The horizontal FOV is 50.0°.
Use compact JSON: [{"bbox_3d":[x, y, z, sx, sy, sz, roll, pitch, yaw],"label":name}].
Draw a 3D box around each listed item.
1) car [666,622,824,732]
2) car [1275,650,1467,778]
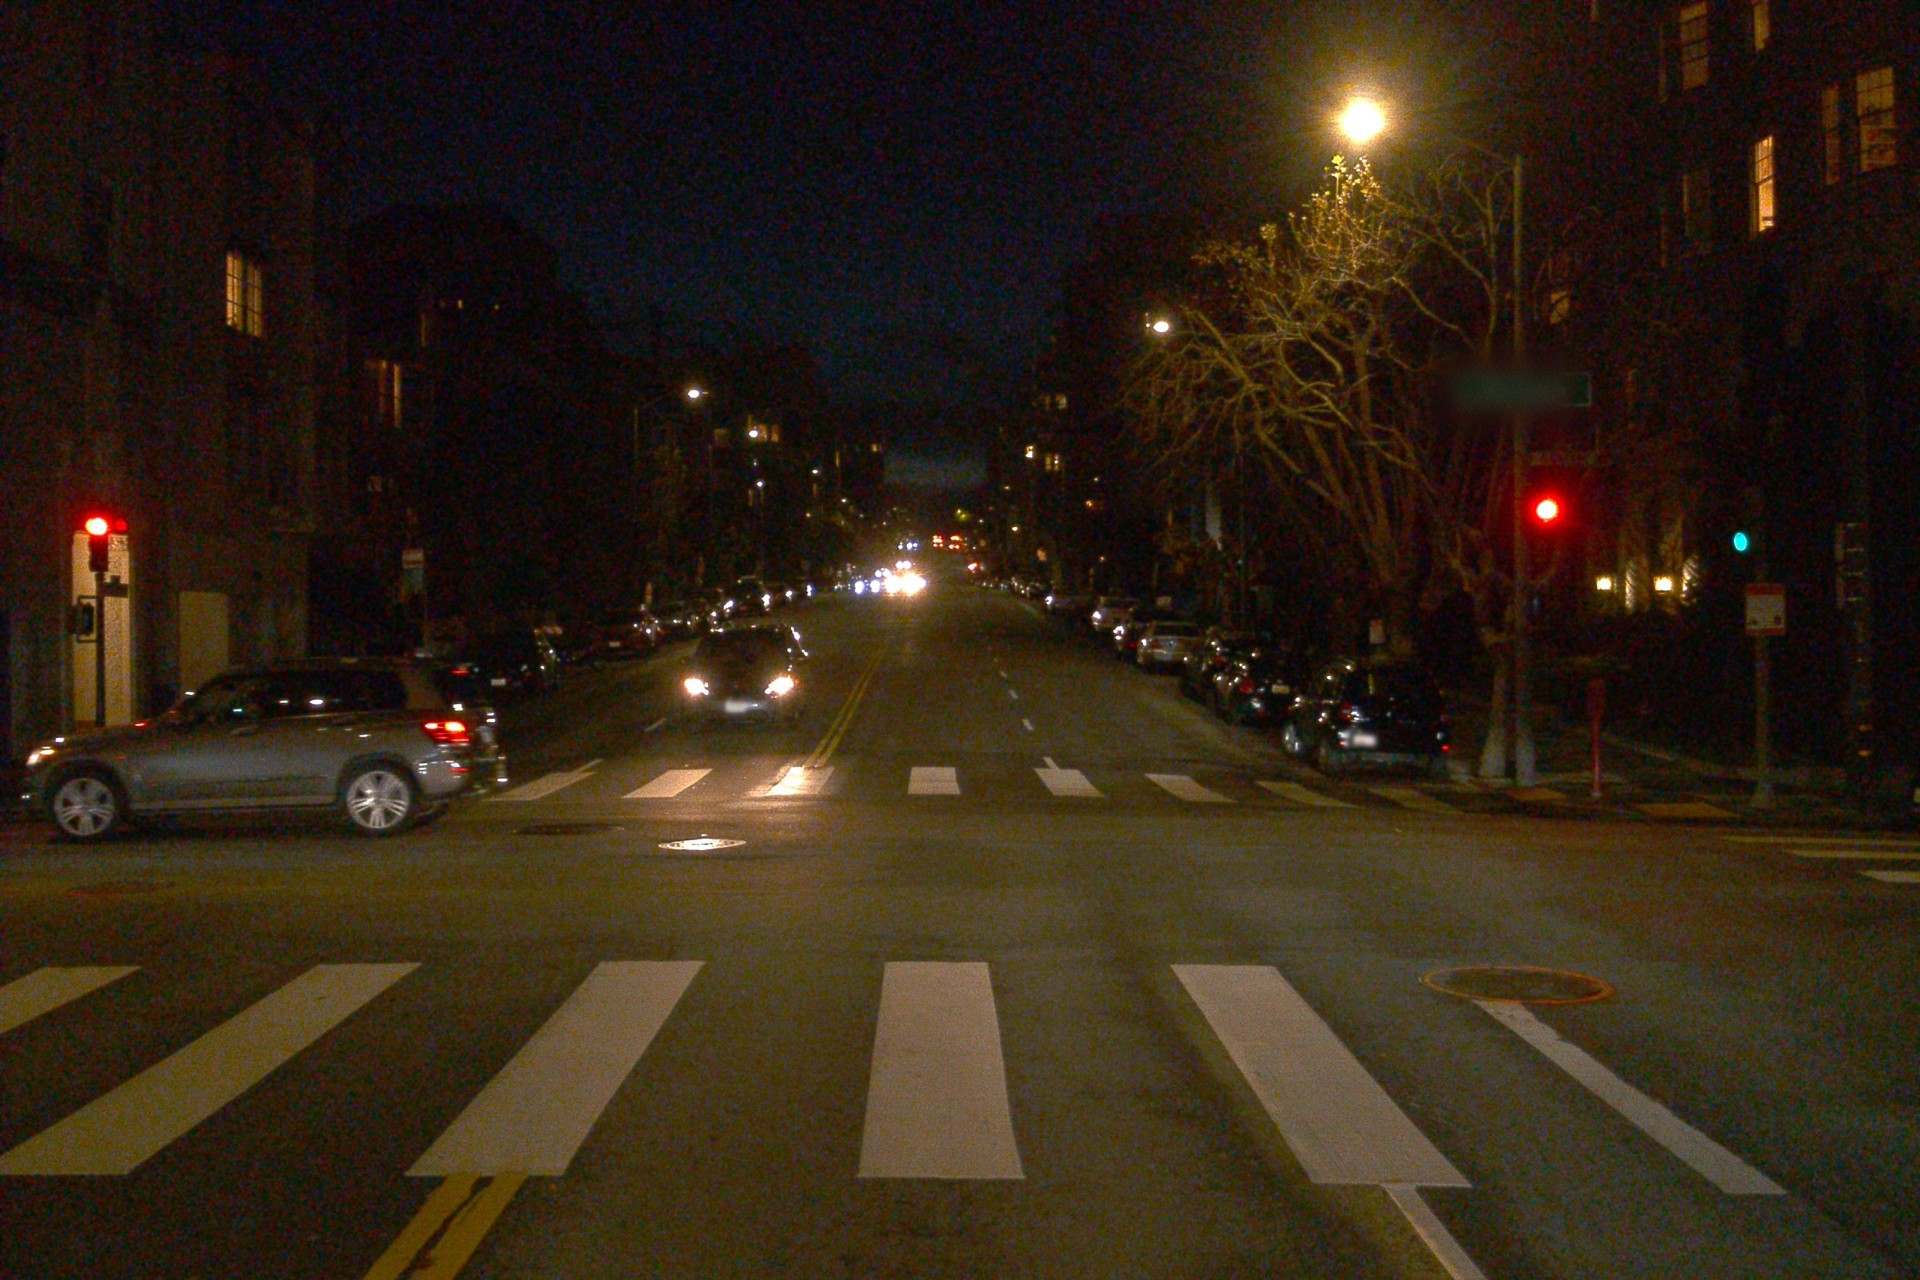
[{"bbox_3d":[-3.744,0.599,36.700,2.293,1.803,4.677,1,0,0],"label":"car"},{"bbox_3d":[6.113,1.054,31.075,1.802,1.714,4.078,1,0,-4],"label":"car"}]
